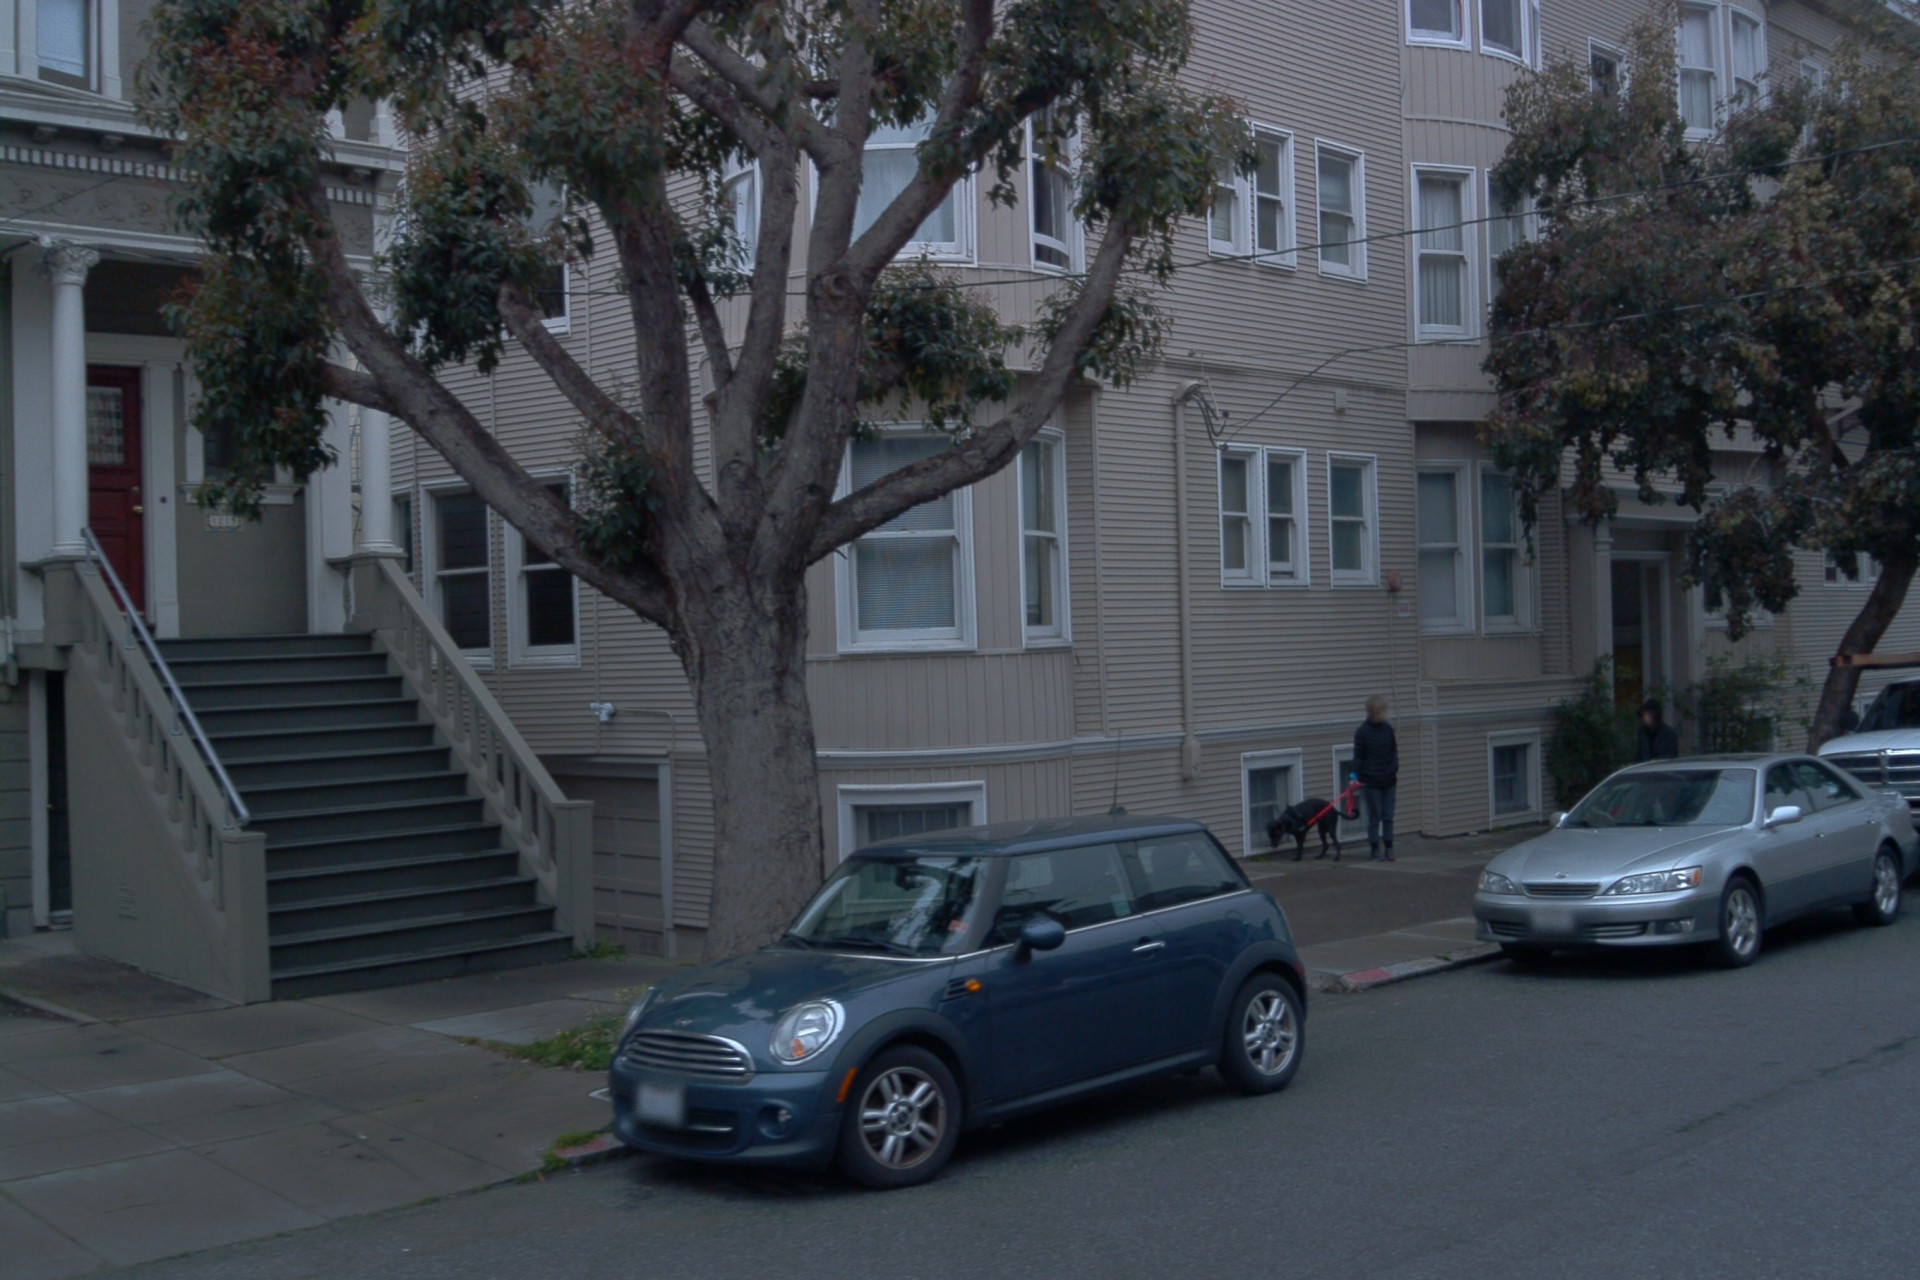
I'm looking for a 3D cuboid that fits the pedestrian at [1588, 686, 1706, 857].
[{"bbox_3d":[6.953,1.306,20.748,0.900,1.650,0.749,1,1,41],"label":"pedestrian"}]

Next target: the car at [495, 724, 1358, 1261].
[{"bbox_3d":[-0.032,1.417,9.747,3.811,1.830,1.889,0,1,-43],"label":"car"}]

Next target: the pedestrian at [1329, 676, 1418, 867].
[{"bbox_3d":[4.156,1.304,20.620,0.647,1.860,0.575,0,1,-22],"label":"pedestrian"}]
